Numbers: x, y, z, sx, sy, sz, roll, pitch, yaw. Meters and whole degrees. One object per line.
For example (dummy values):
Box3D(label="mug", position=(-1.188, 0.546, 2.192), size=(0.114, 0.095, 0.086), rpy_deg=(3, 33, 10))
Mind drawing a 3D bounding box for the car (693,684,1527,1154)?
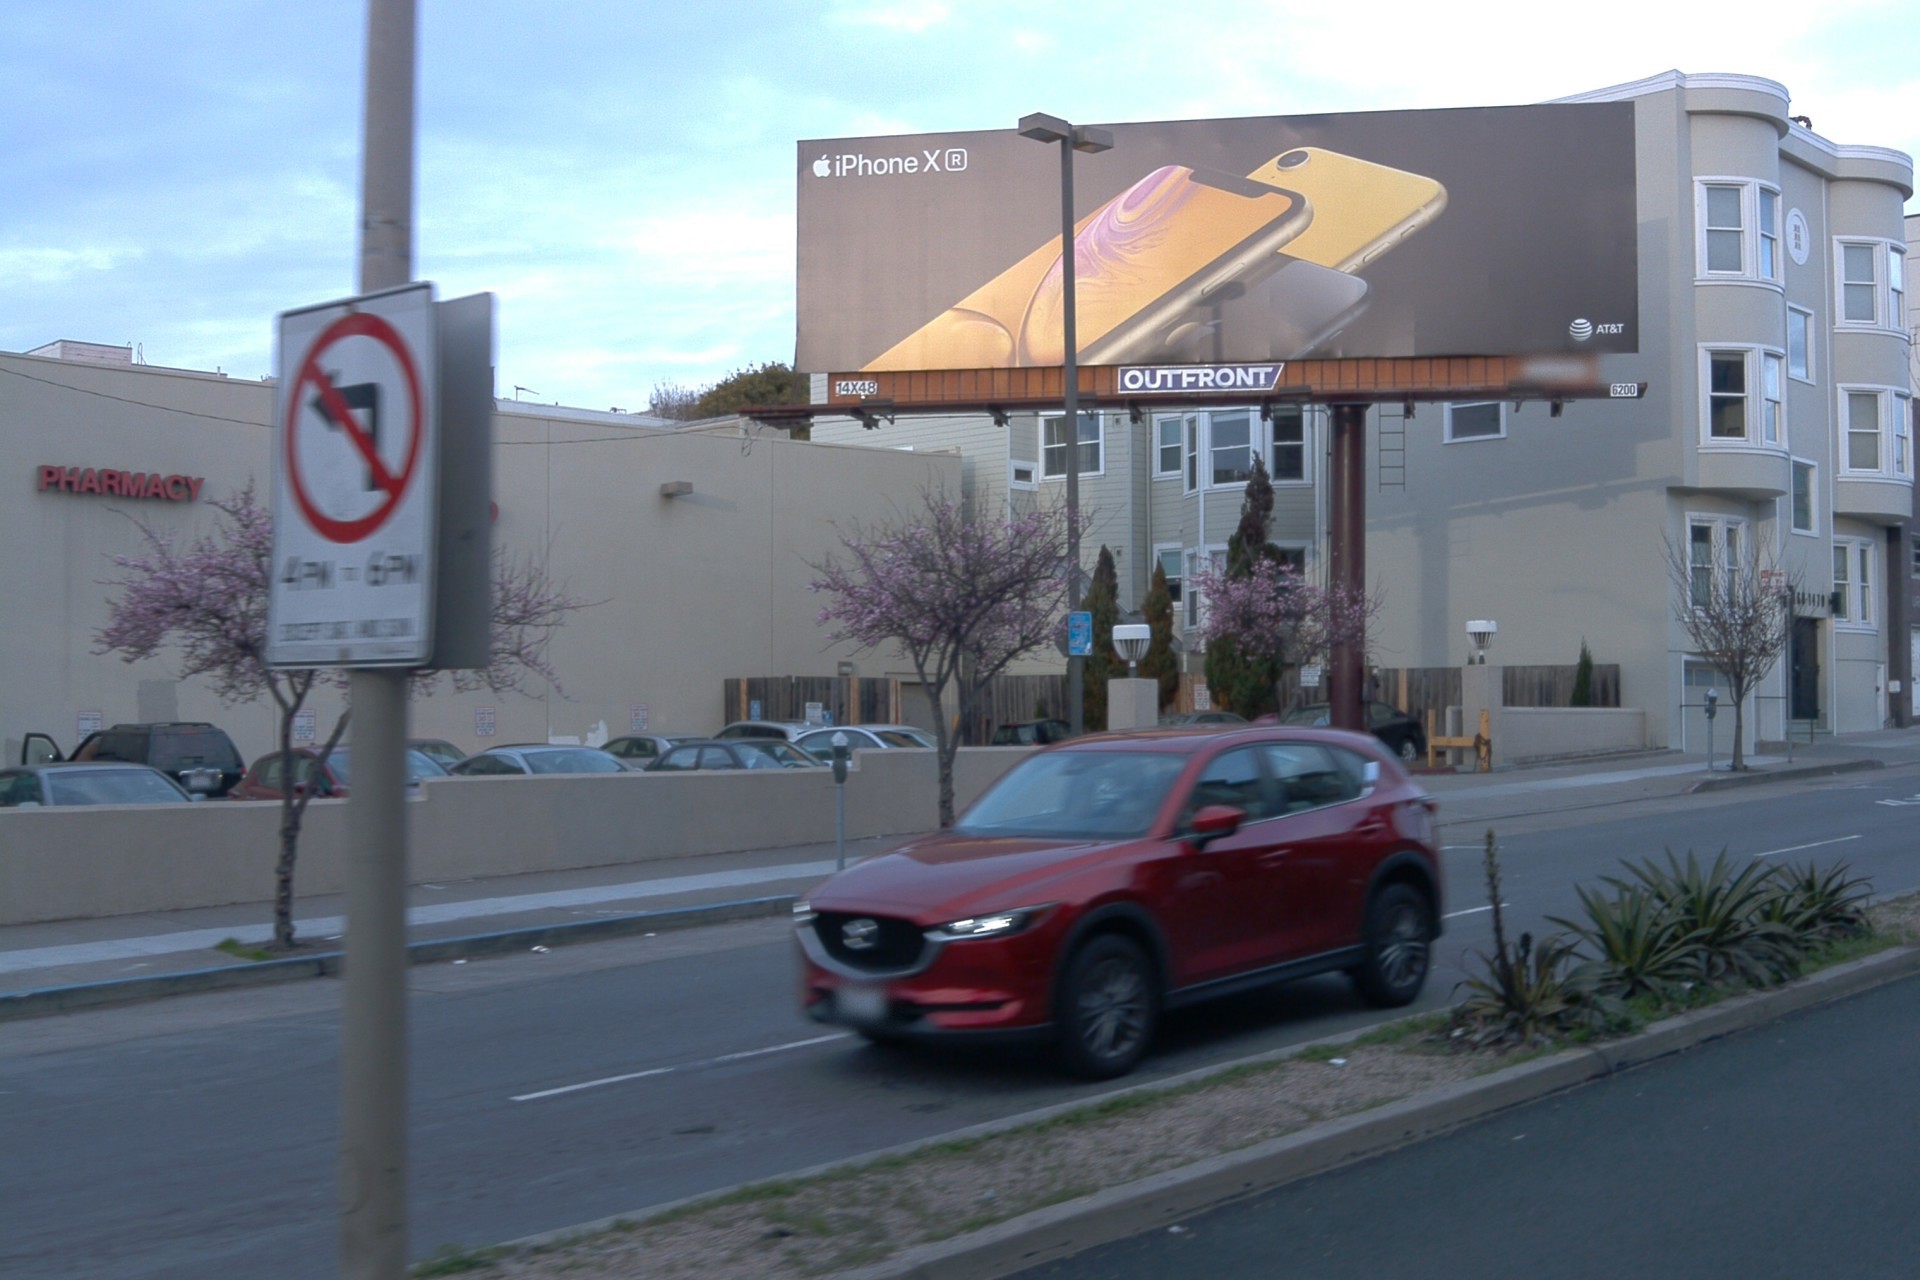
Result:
Box3D(label="car", position=(1.007, 1.283, 11.495), size=(2.128, 1.940, 4.573), rpy_deg=(2, 1, 45))

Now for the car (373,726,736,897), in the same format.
Box3D(label="car", position=(-5.026, 1.990, 25.203), size=(2.126, 1.600, 4.704), rpy_deg=(0, 1, -44))

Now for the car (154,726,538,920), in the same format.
Box3D(label="car", position=(-6.978, 1.939, 23.226), size=(2.176, 1.670, 4.671), rpy_deg=(0, 1, -45))

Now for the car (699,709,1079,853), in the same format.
Box3D(label="car", position=(-1.056, 1.873, 28.702), size=(5.036, 1.560, 2.191), rpy_deg=(1, 1, 39))

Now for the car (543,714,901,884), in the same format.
Box3D(label="car", position=(-3.177, 1.976, 26.925), size=(4.729, 1.770, 2.001), rpy_deg=(2, 1, 43))
